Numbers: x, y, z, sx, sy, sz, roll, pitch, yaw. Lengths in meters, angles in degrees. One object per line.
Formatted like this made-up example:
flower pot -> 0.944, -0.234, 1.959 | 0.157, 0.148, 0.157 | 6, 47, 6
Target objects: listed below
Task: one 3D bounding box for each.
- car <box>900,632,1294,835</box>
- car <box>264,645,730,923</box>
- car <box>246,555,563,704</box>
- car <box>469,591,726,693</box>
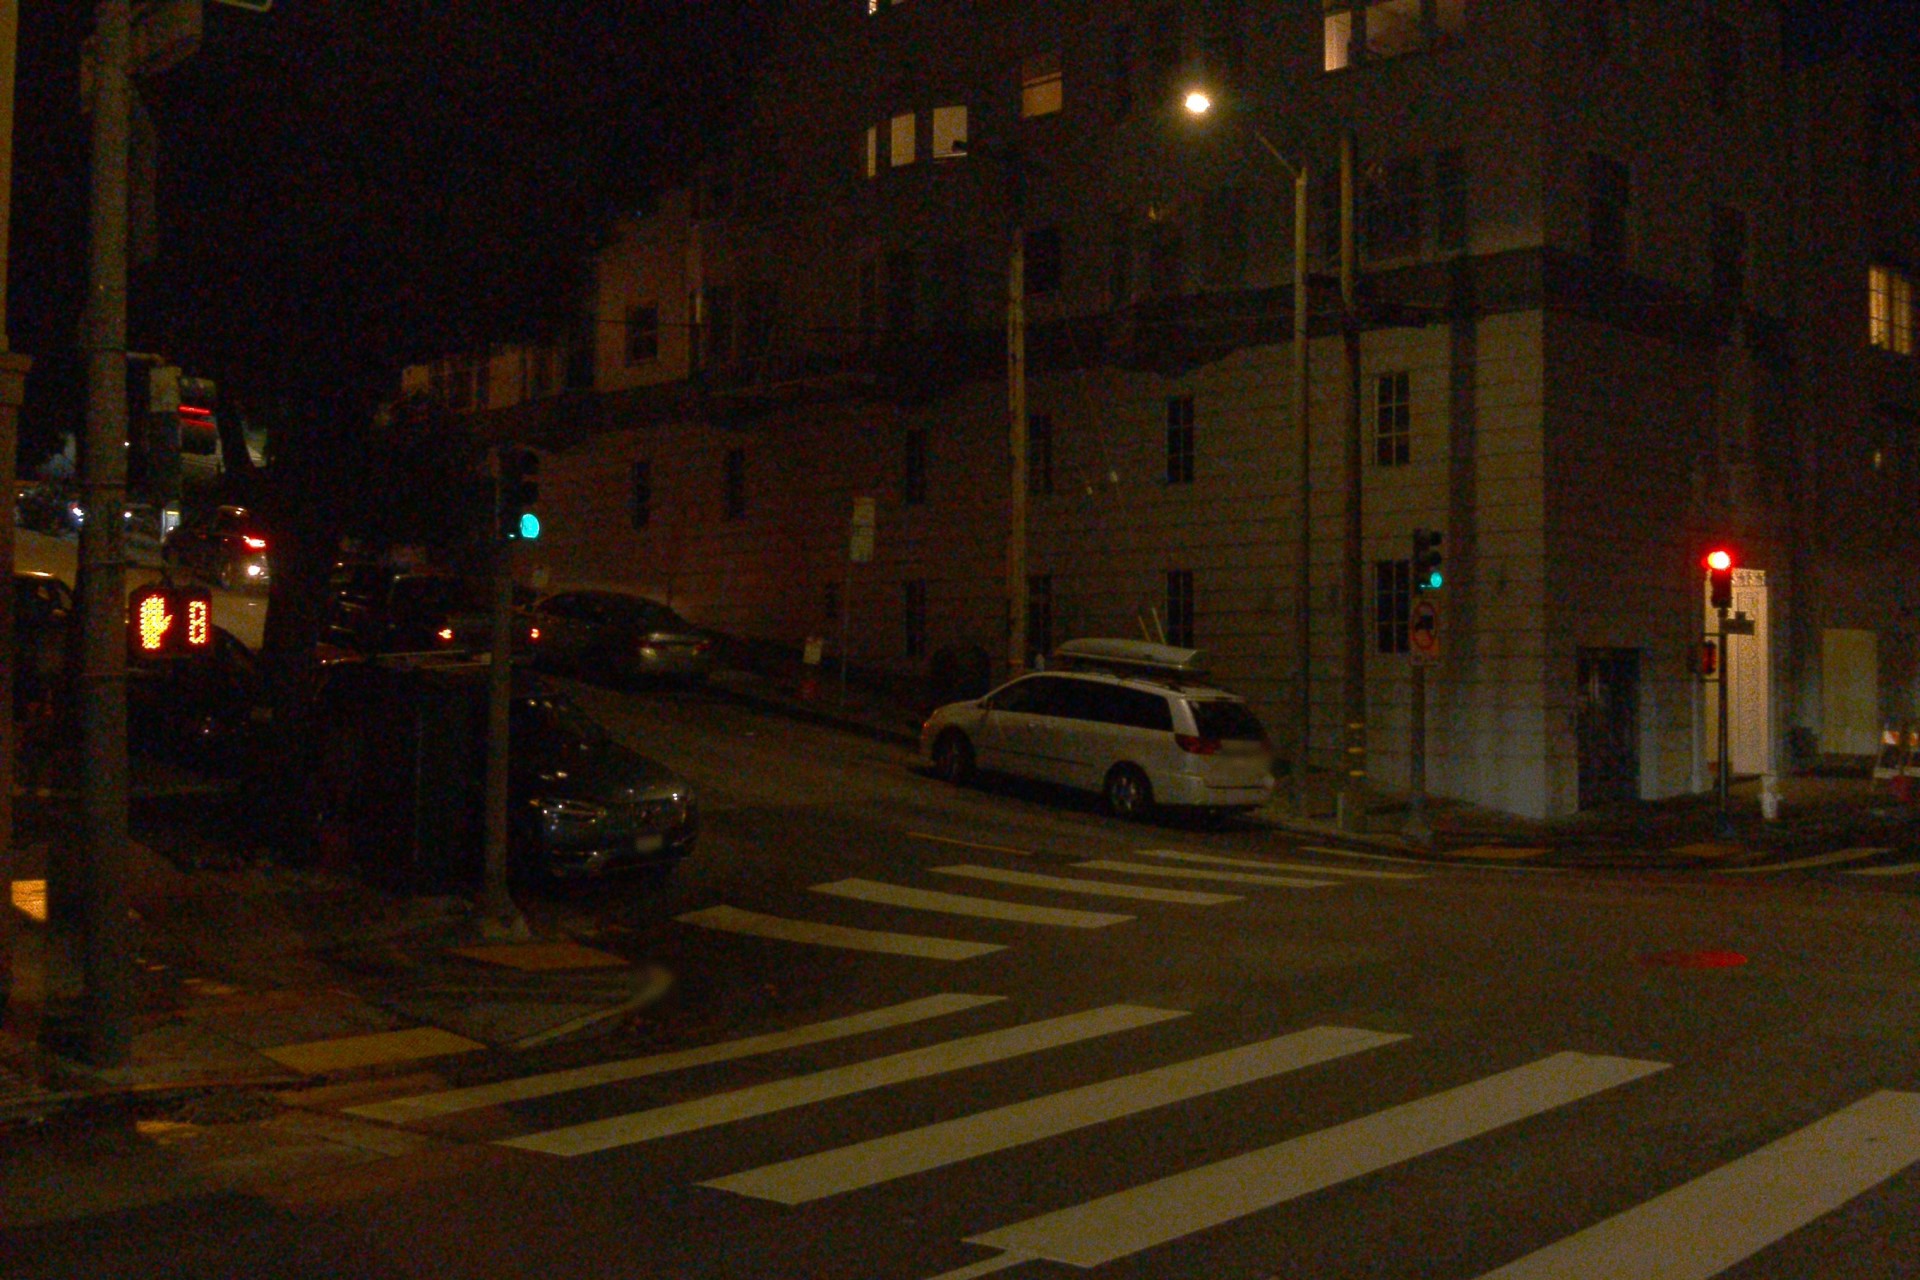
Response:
car -> 1.732, 1.121, 27.136 | 4.904, 2.388, 2.213 | 1, 1, 44
car -> -4.590, 1.228, 19.807 | 2.195, 2.290, 4.784 | 0, 1, -44
car -> -8.789, -0.183, 32.096 | 5.383, 2.142, 2.276 | 1, 1, 43
car -> -6.218, 0.005, 34.848 | 4.539, 1.626, 1.925 | 1, 1, 42
